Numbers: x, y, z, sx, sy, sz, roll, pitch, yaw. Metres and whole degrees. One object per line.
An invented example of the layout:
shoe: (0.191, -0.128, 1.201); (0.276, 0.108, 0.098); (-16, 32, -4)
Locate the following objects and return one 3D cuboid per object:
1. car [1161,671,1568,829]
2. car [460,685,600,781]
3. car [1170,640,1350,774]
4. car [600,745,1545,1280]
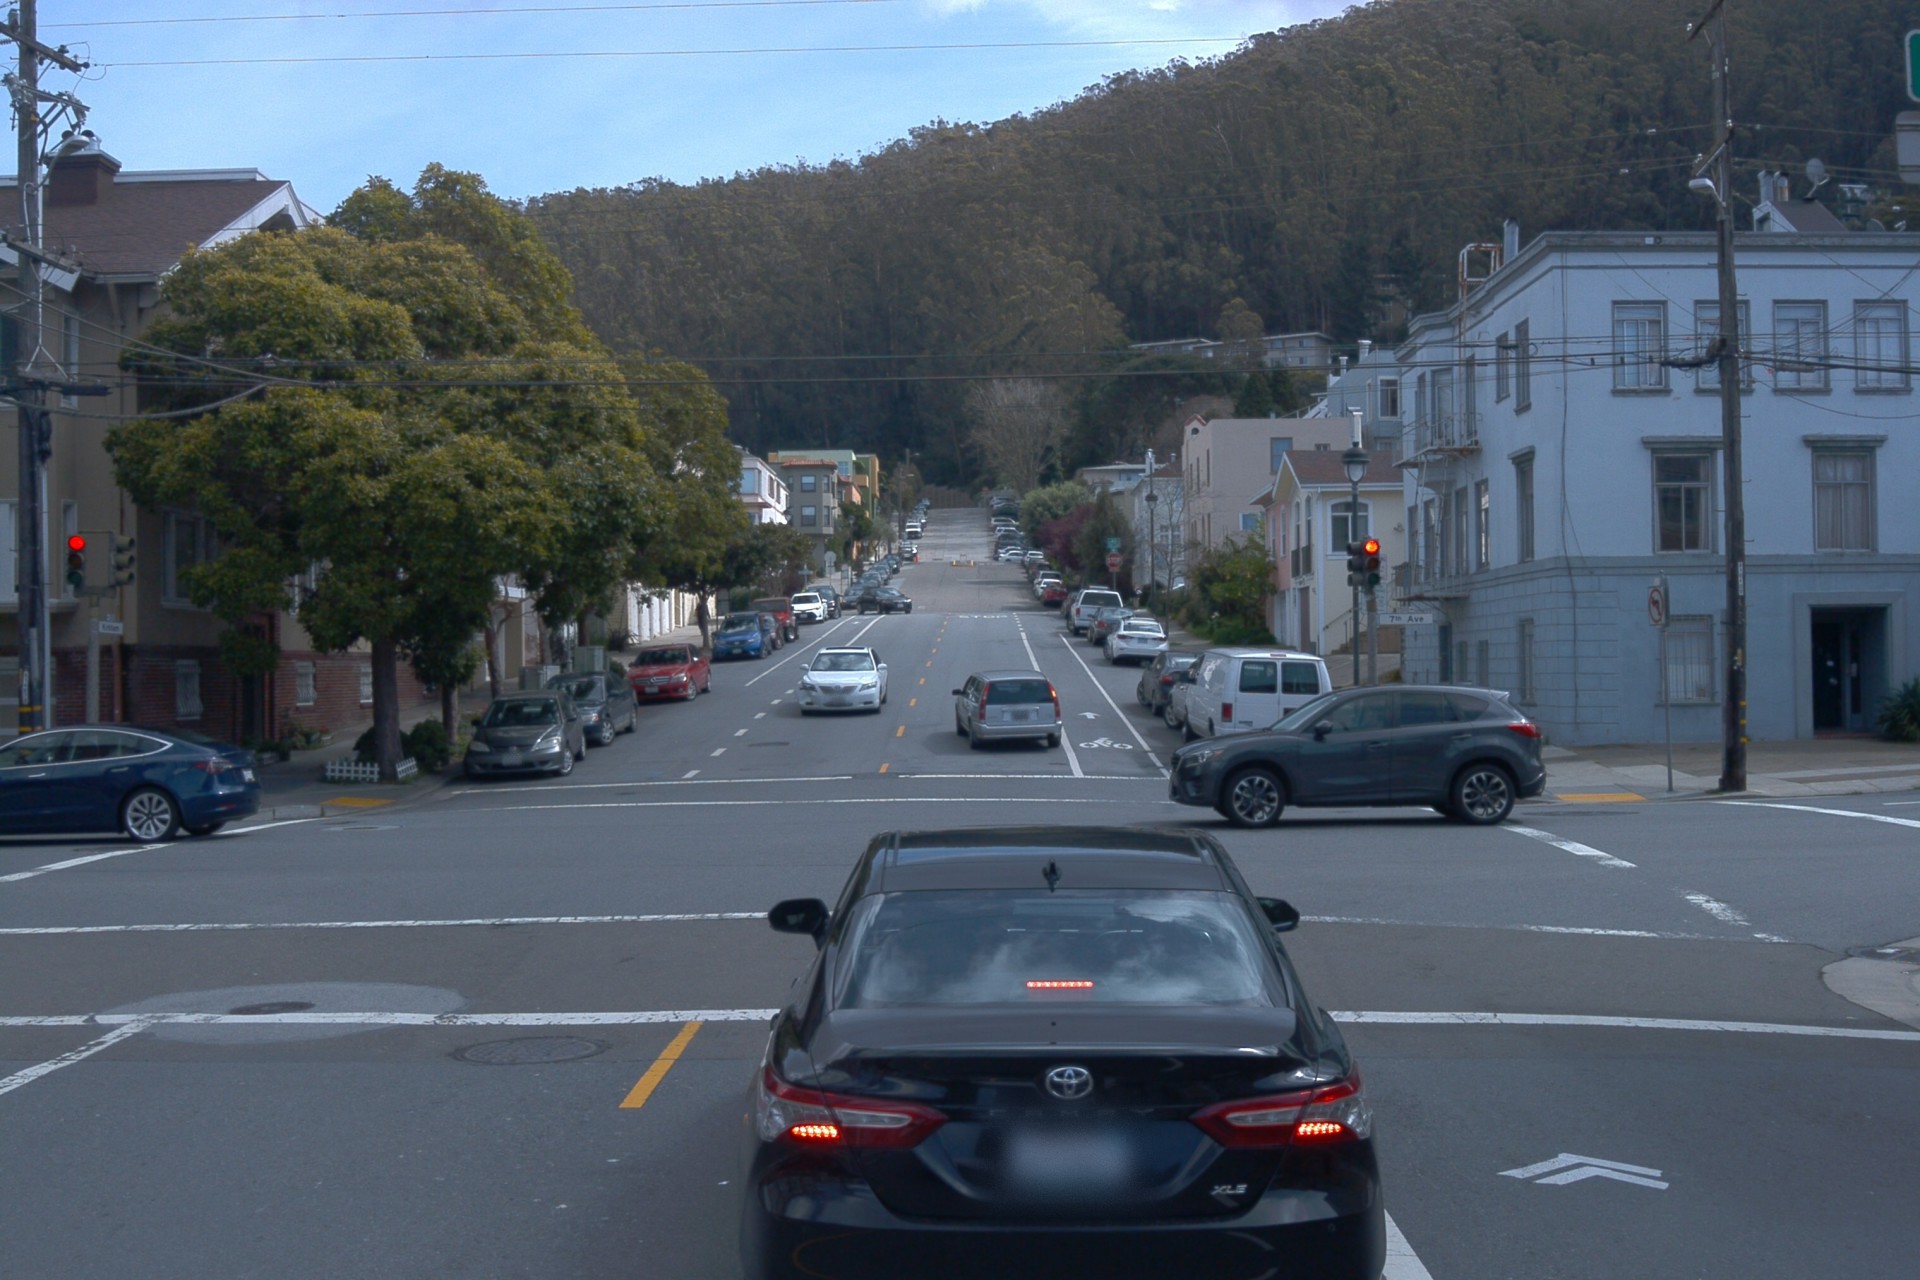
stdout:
car: (4.729, 1.270, 24.577); (4.485, 1.780, 2.006); (0, 0, 0)
car: (-7.707, 1.632, 37.253); (1.836, 1.560, 4.133); (0, 0, -3)
car: (5.311, 1.126, 37.238); (2.299, 2.250, 5.313); (0, 0, -2)
car: (0.282, 1.306, 7.305); (2.249, 1.620, 4.798); (0, 0, 0)
